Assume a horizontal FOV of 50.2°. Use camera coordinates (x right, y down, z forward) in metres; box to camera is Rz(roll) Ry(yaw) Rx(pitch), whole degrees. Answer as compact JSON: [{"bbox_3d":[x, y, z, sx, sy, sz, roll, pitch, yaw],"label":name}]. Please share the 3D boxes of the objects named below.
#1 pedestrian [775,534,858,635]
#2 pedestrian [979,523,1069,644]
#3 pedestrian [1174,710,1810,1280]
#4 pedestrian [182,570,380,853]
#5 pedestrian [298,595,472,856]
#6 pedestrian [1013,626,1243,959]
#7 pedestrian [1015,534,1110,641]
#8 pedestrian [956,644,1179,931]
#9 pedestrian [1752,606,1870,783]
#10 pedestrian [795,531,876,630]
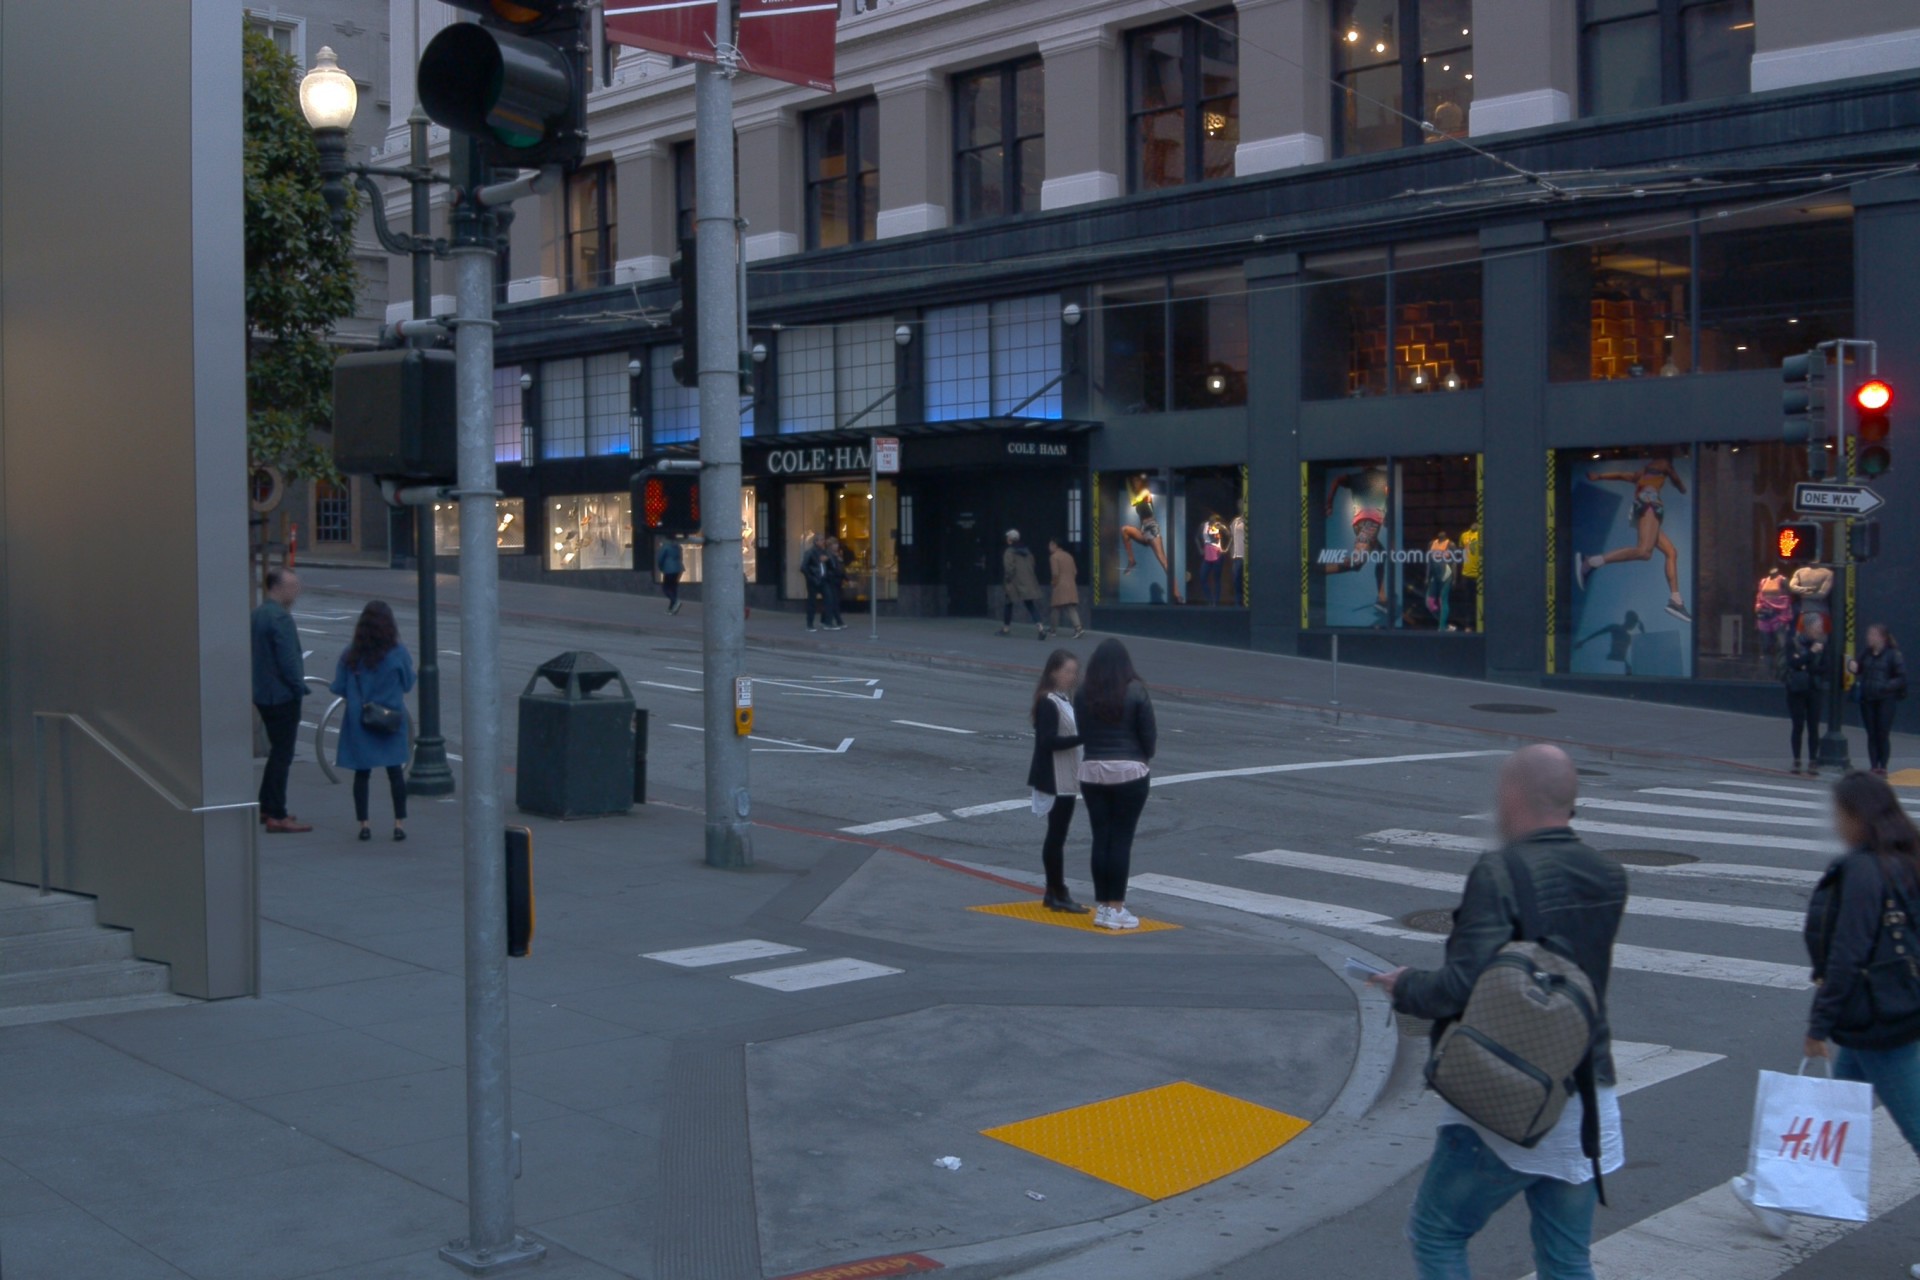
[{"bbox_3d":[-2.397,-0.919,34.221,1.047,1.650,0.891,1,1,42],"label":"pedestrian"},{"bbox_3d":[1.028,-0.901,33.069,0.963,1.920,1.104,0,1,-38],"label":"pedestrian"},{"bbox_3d":[1.232,1.113,4.882,0.930,1.820,1.122,0,1,-33],"label":"pedestrian"},{"bbox_3d":[-4.907,0.486,14.829,0.982,1.960,0.939,1,1,27],"label":"pedestrian"},{"bbox_3d":[-4.027,0.563,14.340,0.951,1.750,0.801,0,1,-37],"label":"pedestrian"},{"bbox_3d":[1.010,0.868,12.354,1.113,1.890,0.813,0,1,-33],"label":"pedestrian"},{"bbox_3d":[1.667,-0.849,33.348,1.053,1.700,1.109,0,1,-39],"label":"pedestrian"},{"bbox_3d":[0.684,0.892,13.070,1.003,1.710,0.997,0,1,-41],"label":"pedestrian"},{"bbox_3d":[8.945,0.542,21.527,0.895,1.800,1.088,1,1,36],"label":"pedestrian"},{"bbox_3d":[-2.116,-1.005,34.844,1.047,1.650,0.891,1,1,42],"label":"pedestrian"}]
